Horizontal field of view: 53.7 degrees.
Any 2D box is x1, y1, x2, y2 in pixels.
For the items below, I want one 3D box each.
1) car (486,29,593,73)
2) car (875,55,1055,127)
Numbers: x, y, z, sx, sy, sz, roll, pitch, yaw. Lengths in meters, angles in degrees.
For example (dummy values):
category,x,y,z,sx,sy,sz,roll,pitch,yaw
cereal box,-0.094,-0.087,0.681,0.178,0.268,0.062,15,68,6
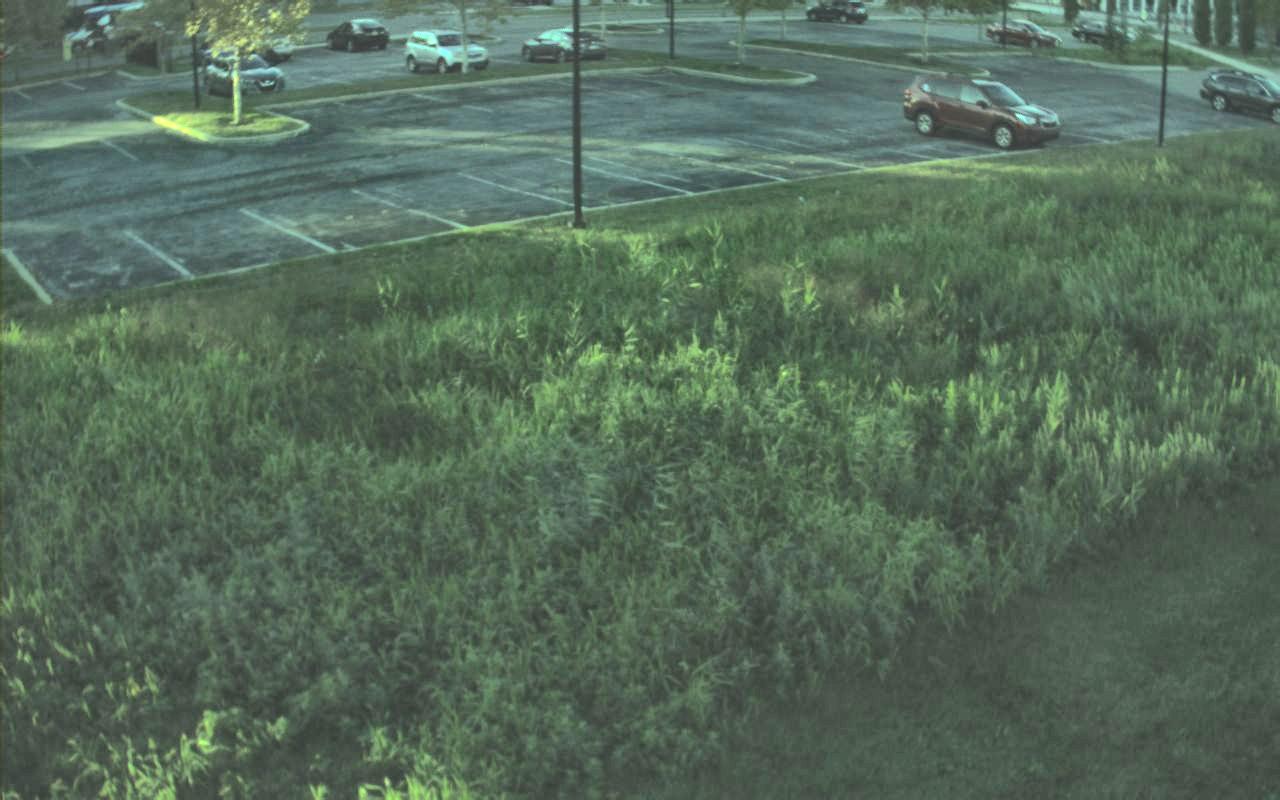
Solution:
category,x,y,z,sx,sy,sz,roll,pitch,yaw
car,-4.169,-14.151,50.003,2.003,1.668,4.572,-14,21,-39
car,8.785,-8.402,32.730,2.022,1.699,4.725,-13,20,-37
